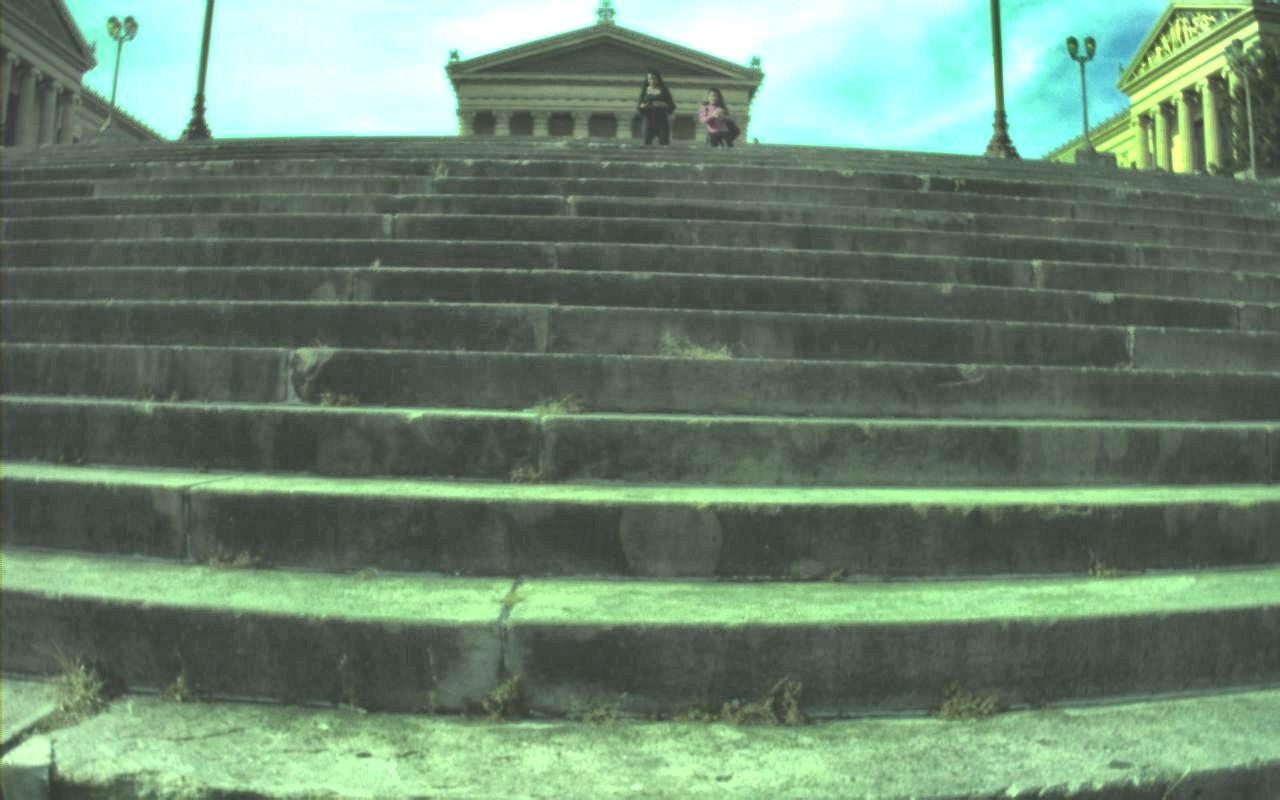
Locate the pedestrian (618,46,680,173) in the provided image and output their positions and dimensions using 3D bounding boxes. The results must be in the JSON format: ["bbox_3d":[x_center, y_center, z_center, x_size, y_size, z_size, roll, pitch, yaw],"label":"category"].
[{"bbox_3d":[0.138,-4.336,18.641,0.670,1.802,0.662,1,0,28],"label":"pedestrian"}]

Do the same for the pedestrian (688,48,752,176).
[{"bbox_3d":[1.177,-4.238,18.358,0.689,1.781,0.653,0,0,-29],"label":"pedestrian"}]
